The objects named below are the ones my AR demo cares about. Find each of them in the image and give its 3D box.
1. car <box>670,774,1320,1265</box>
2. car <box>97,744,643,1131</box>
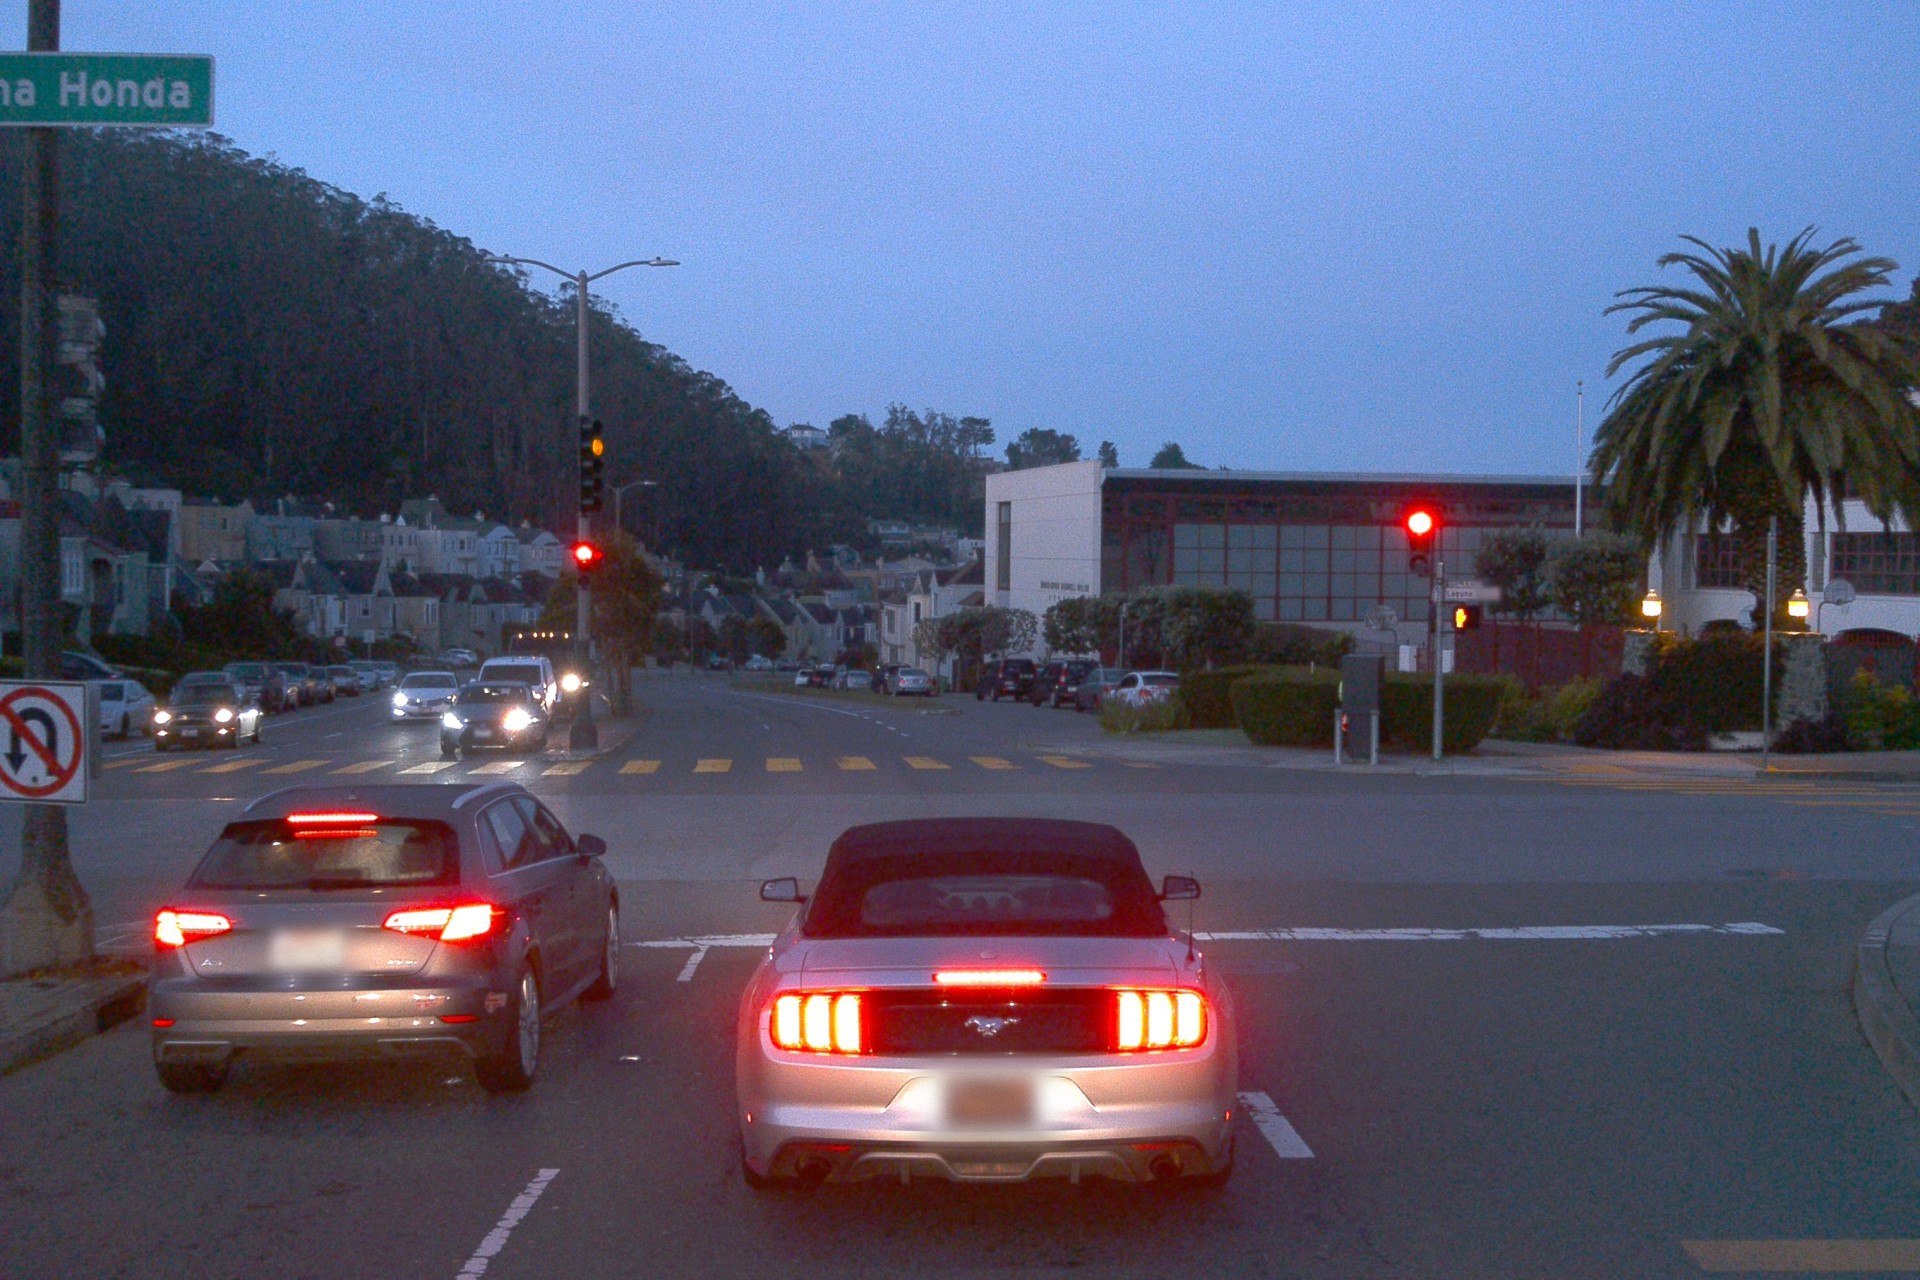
[{"bbox_3d":[0.099,1.411,9.110,2.174,1.380,4.355,0,0,0],"label":"car"},{"bbox_3d":[-2.886,1.403,11.058,1.782,1.510,3.987,0,0,0],"label":"car"}]
